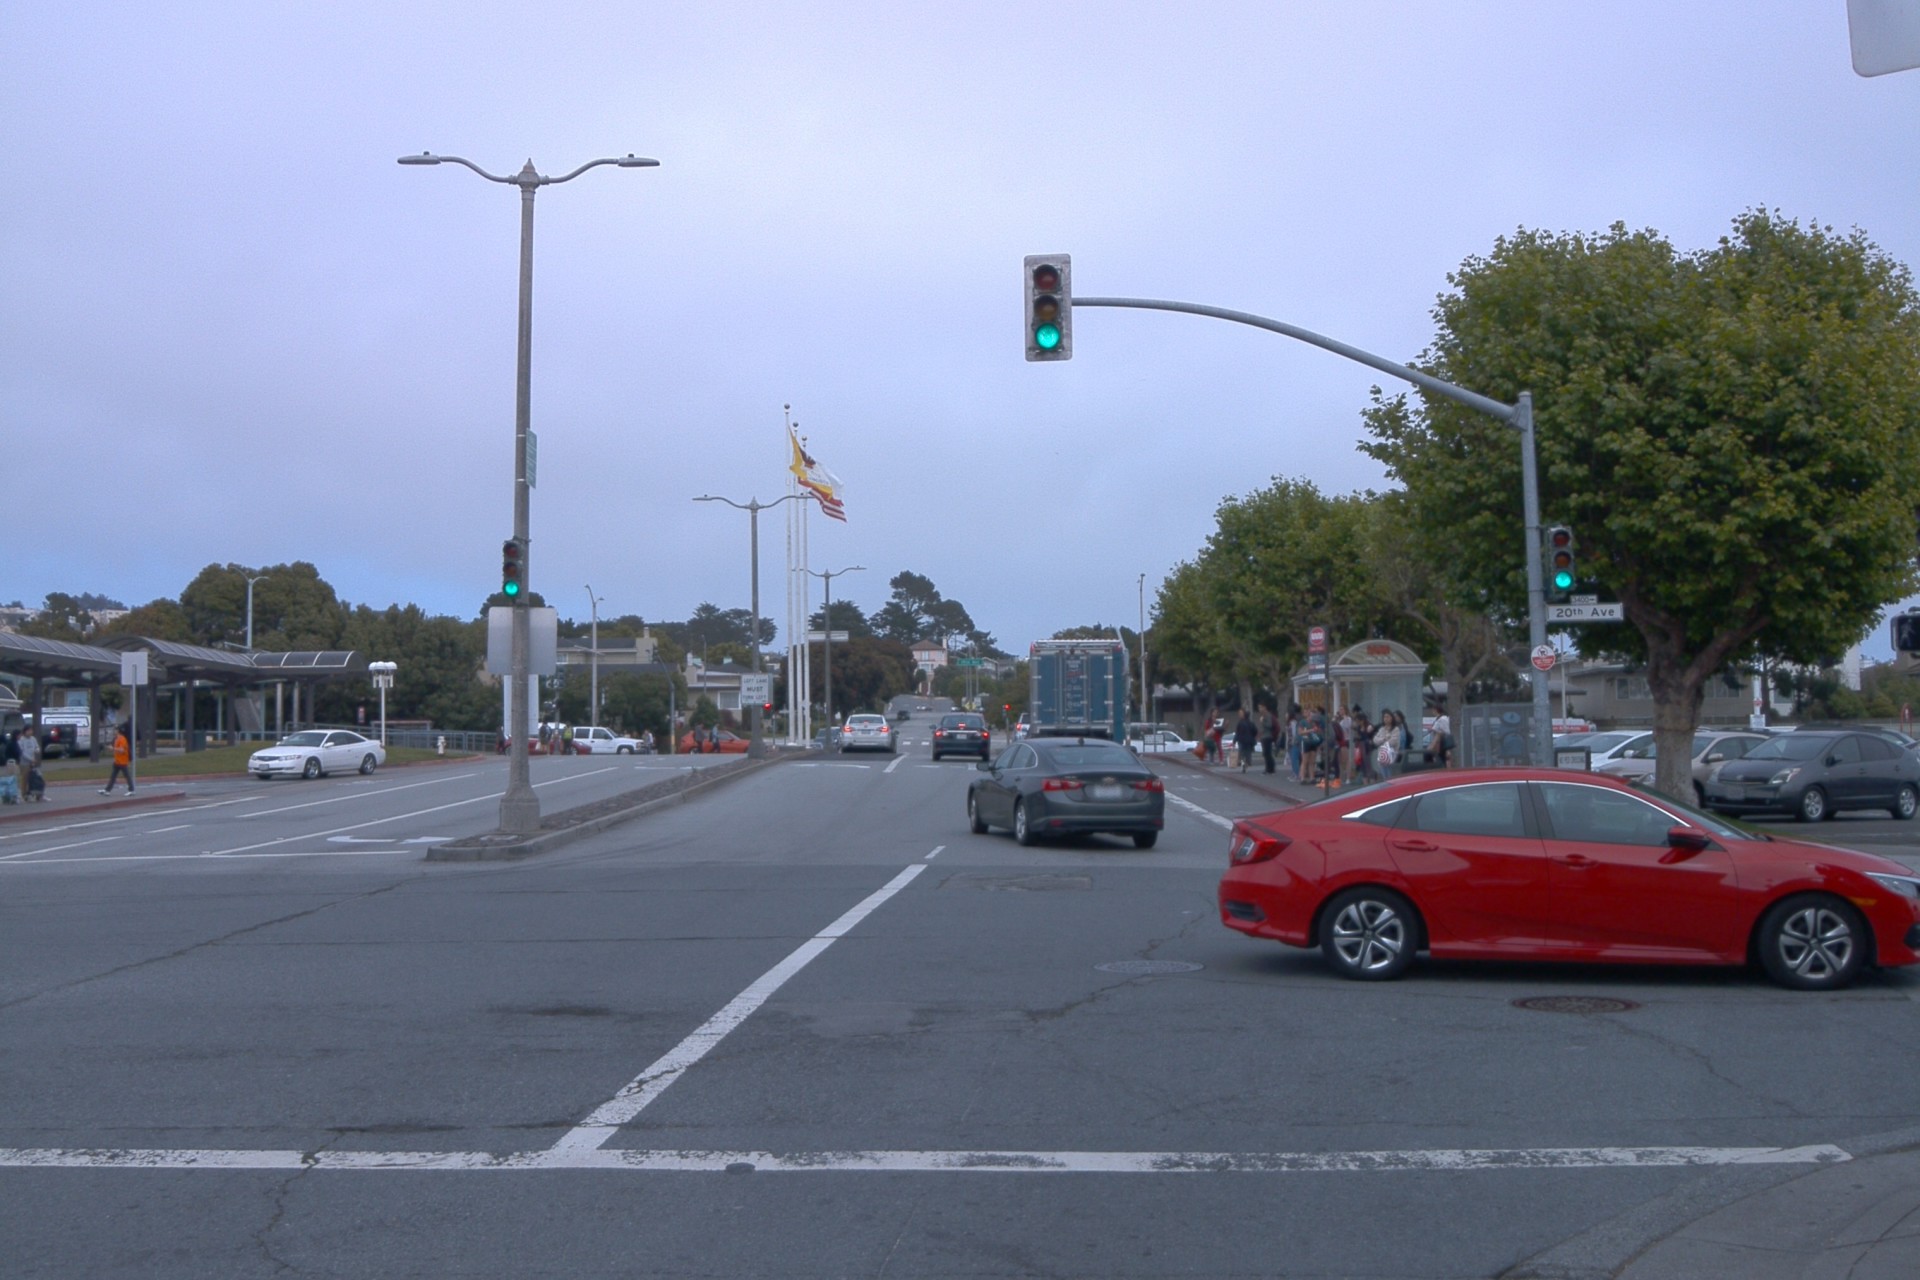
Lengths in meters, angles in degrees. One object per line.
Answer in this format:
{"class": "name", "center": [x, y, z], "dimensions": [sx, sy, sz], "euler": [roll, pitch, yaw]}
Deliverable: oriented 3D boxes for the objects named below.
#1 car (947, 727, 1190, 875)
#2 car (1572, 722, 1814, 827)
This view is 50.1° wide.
{"class": "car", "center": [1.380, 2.137, 28.495], "dimensions": [2.085, 1.570, 4.896], "euler": [0, 1, -13]}
{"class": "car", "center": [12.851, 2.309, 36.012], "dimensions": [3.959, 1.540, 1.985], "euler": [-1, 1, -33]}
